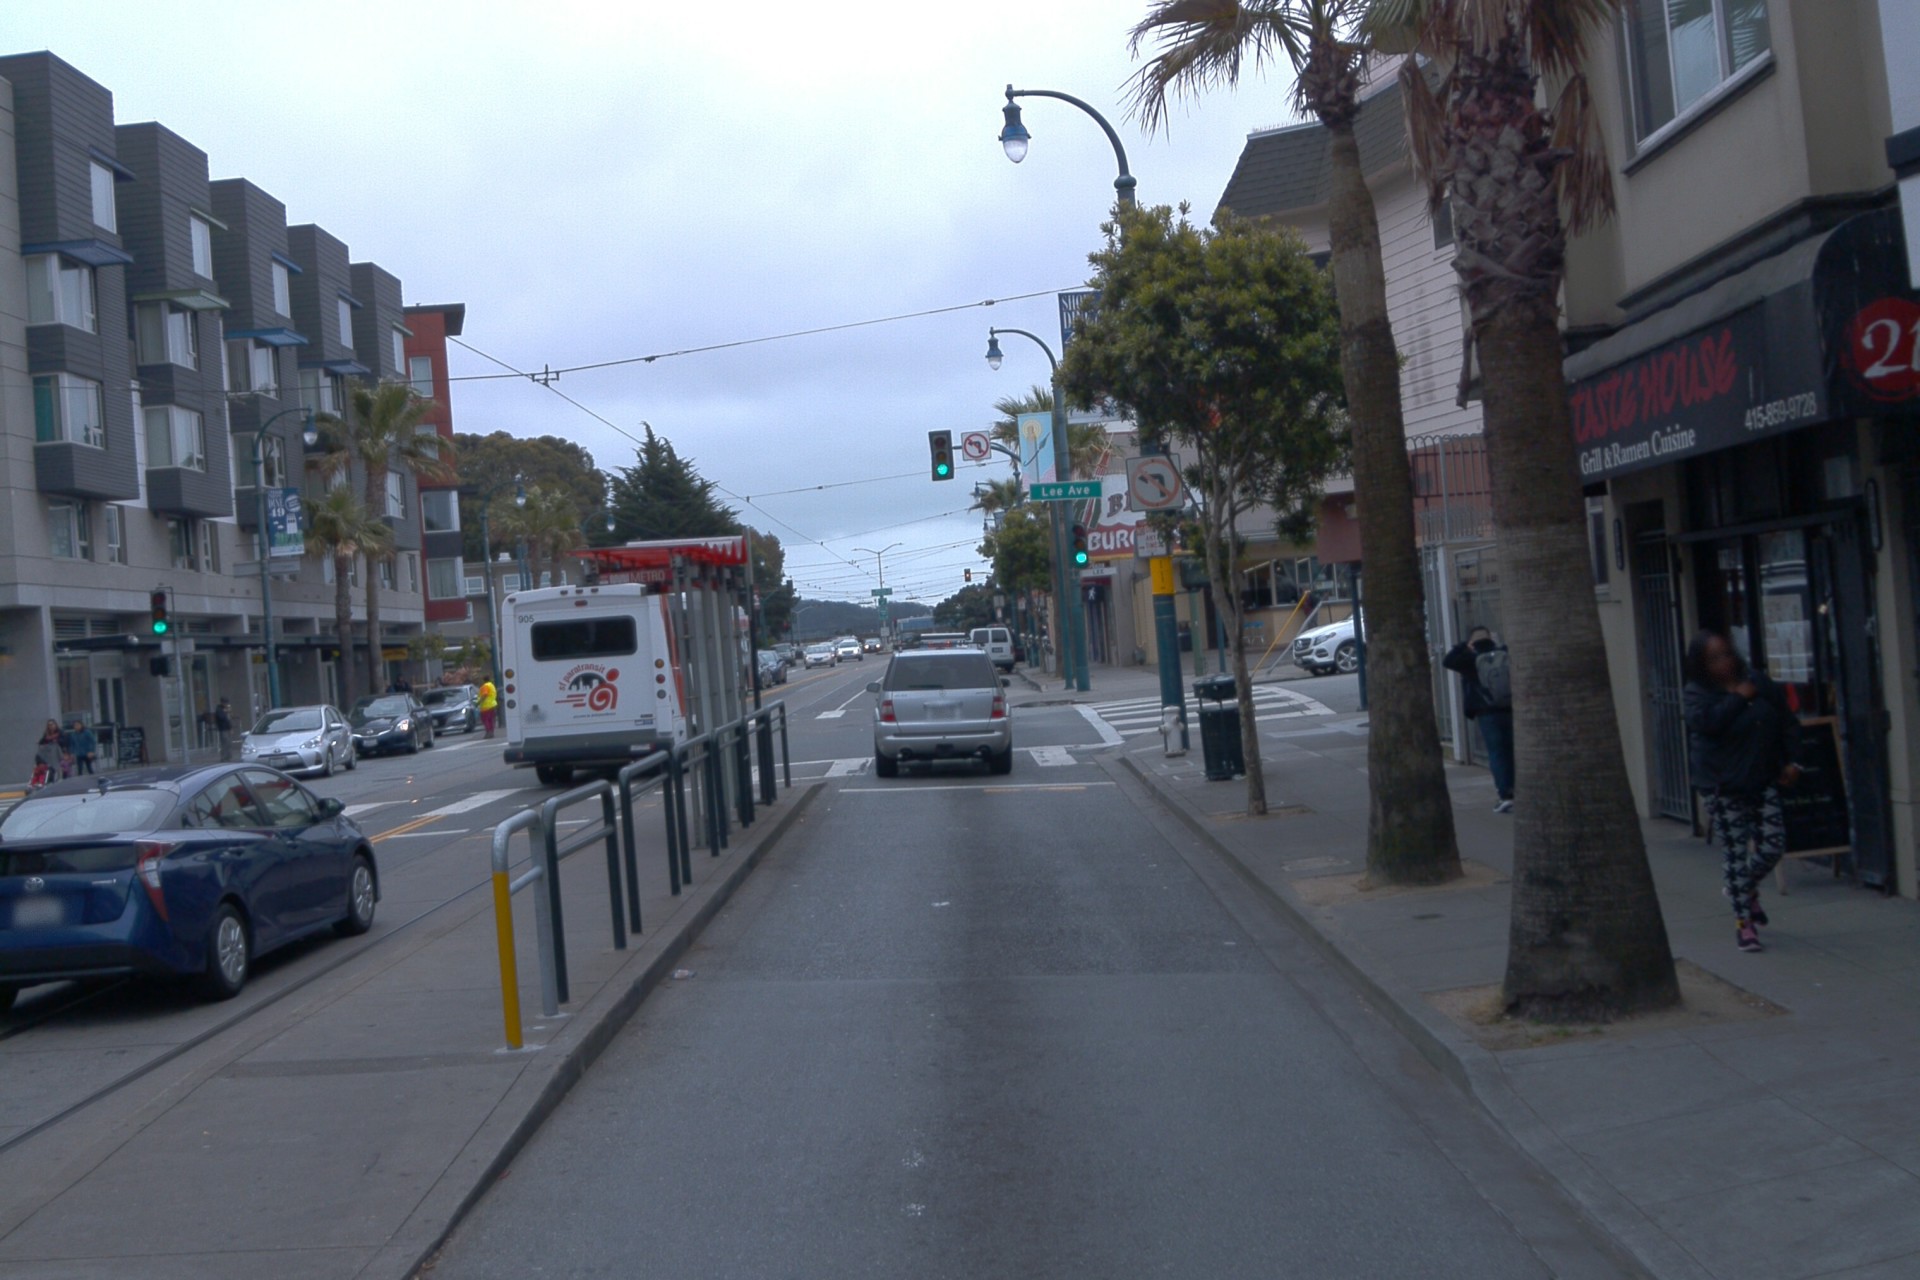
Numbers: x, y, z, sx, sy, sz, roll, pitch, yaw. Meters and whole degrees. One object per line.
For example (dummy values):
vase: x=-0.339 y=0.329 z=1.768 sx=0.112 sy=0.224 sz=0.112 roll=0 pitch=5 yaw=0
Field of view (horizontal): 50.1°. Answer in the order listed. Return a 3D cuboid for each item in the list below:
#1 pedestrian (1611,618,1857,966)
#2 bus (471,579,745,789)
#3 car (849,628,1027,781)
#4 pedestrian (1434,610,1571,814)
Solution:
pedestrian: x=3.991 y=0.751 z=10.673 sx=0.892 sy=1.720 sz=0.908 roll=0 pitch=1 yaw=-3
bus: x=-5.463 y=0.588 z=33.250 sx=3.022 sy=3.040 sz=6.906 roll=0 pitch=1 yaw=2
car: x=-0.325 y=0.824 z=28.923 sx=2.303 sy=1.940 sz=4.182 roll=0 pitch=1 yaw=-1
pedestrian: x=4.646 y=0.598 z=17.663 sx=0.910 sy=1.699 sz=1.008 roll=0 pitch=1 yaw=0
